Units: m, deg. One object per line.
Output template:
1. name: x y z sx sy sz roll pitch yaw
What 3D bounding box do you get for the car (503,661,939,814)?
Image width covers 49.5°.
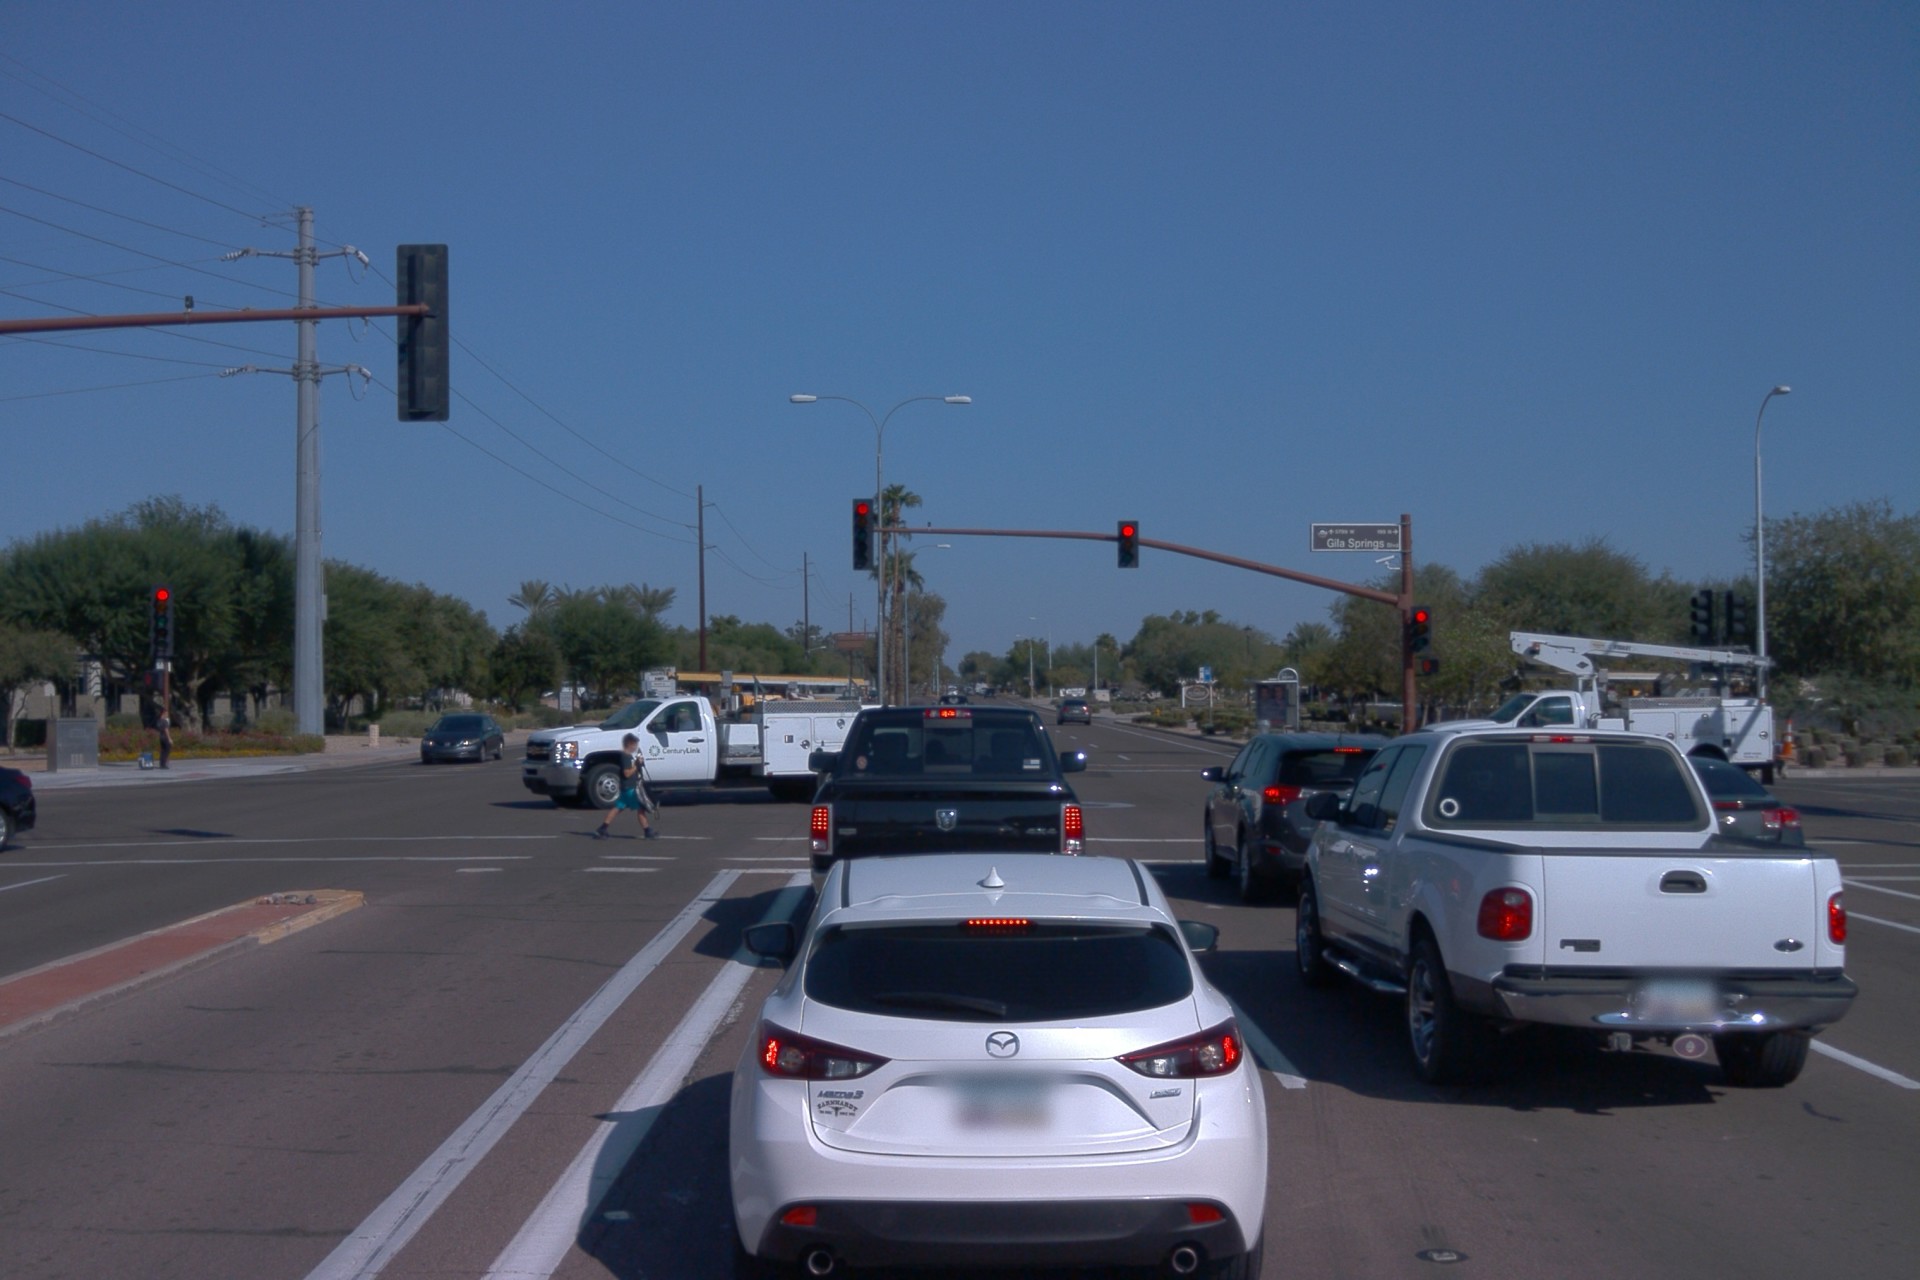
1. car: -4.125 1.630 36.195 6.869 2.440 3.041 1 -2 -28

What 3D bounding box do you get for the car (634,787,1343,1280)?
1. car: 0.088 1.503 8.493 2.099 1.600 4.628 0 -1 0

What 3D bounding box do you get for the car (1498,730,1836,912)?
1. car: 6.817 1.693 20.608 1.828 1.540 4.447 0 -1 0

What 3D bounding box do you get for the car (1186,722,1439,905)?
1. car: 3.477 1.676 21.278 1.789 1.630 4.213 0 -1 -1

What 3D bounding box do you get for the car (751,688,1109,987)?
1. car: -0.135 1.440 17.009 2.500 2.080 5.001 0 -1 2

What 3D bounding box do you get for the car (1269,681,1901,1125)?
1. car: 3.325 1.300 12.475 2.073 2.070 5.518 0 -1 -1

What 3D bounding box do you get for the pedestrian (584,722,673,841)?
1. pedestrian: -4.360 1.855 27.428 1.087 1.530 0.743 0 -1 -4
